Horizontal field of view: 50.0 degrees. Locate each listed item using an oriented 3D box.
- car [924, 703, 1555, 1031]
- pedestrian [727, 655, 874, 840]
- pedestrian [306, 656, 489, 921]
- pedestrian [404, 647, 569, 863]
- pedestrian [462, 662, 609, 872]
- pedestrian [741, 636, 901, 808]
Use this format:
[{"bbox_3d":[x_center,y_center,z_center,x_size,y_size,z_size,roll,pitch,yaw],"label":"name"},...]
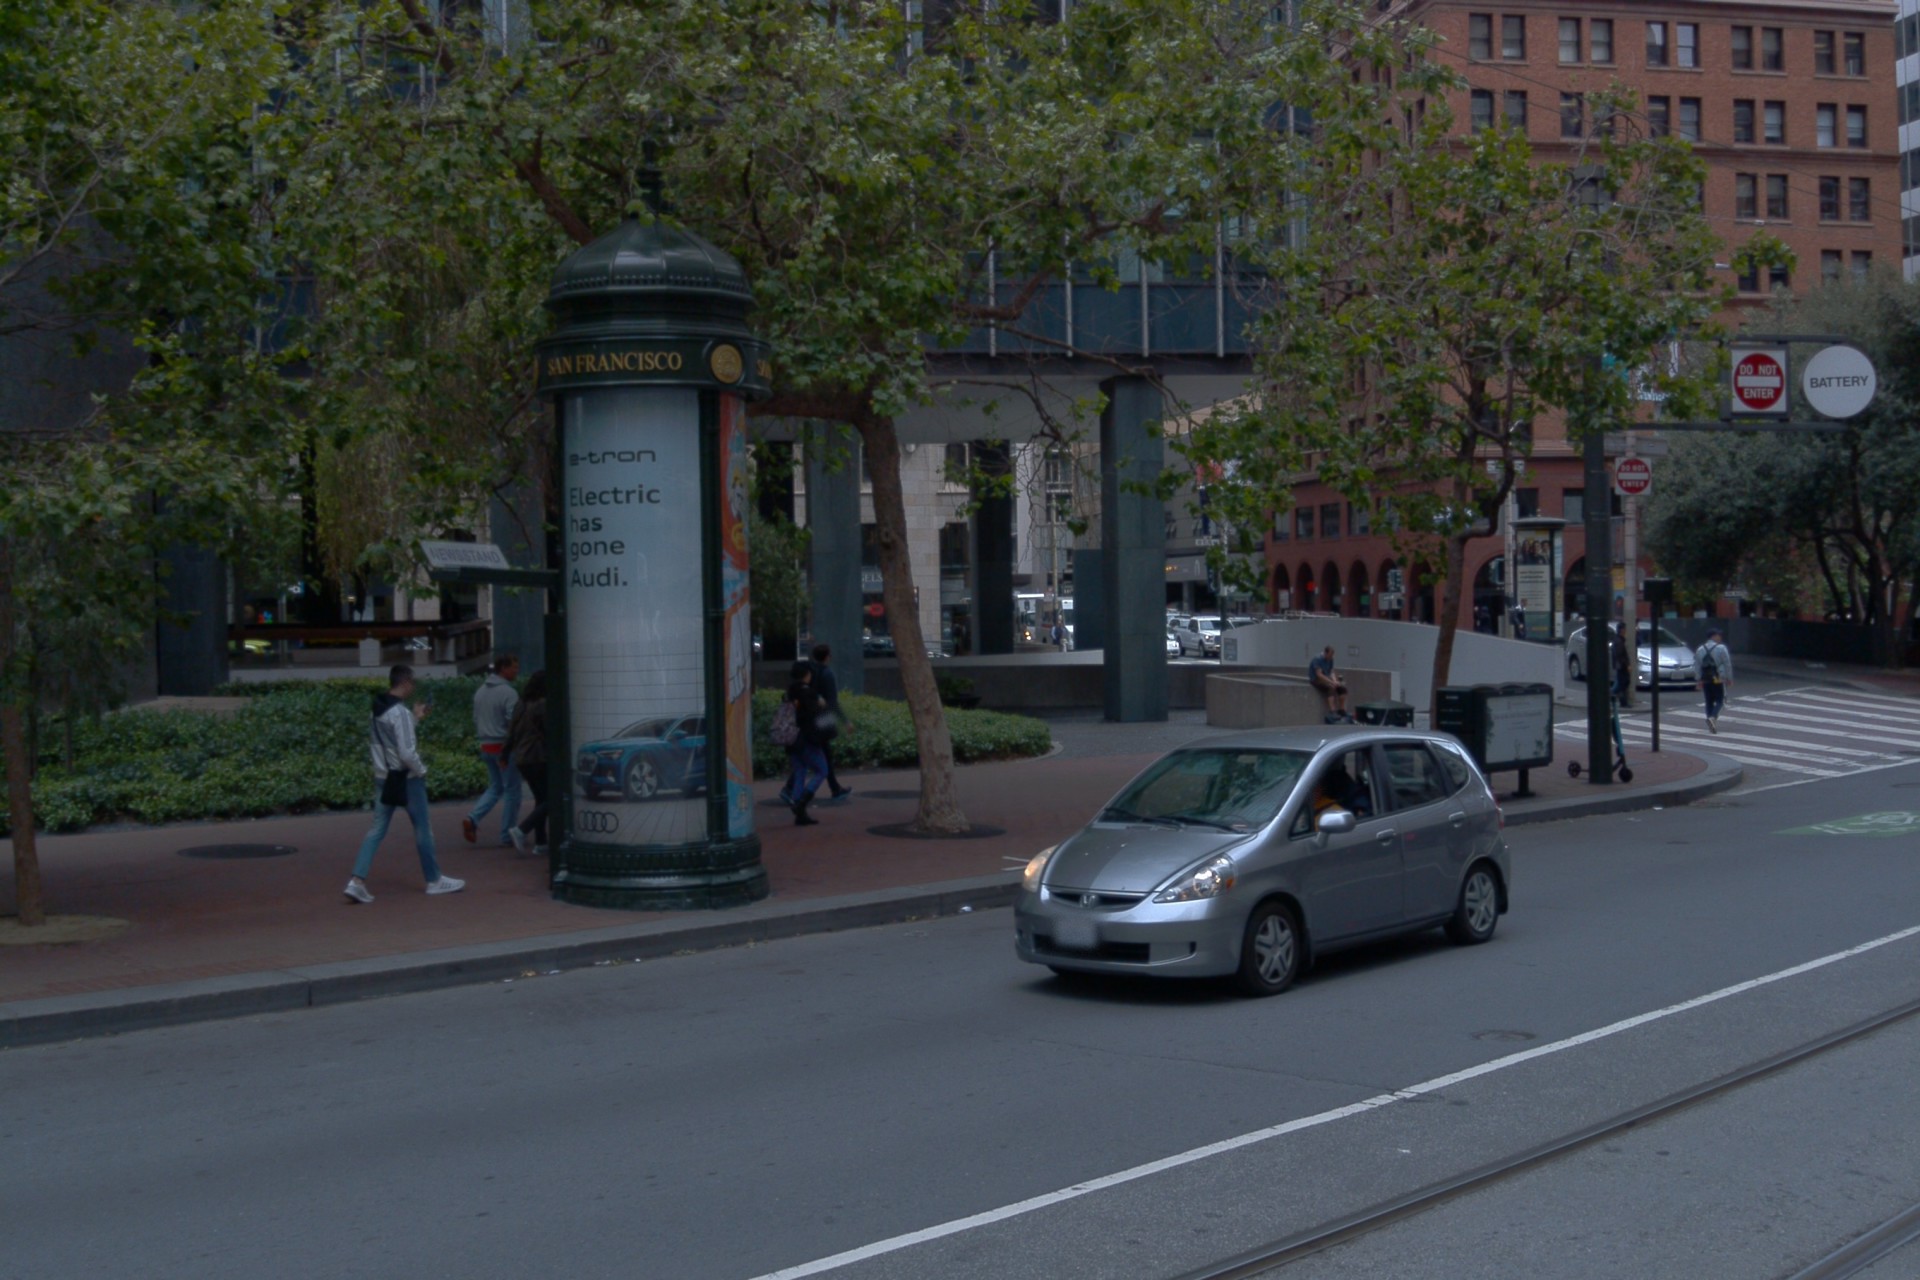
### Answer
[{"bbox_3d":[1.904,1.286,13.194,2.059,1.580,3.998,1,1,43],"label":"car"},{"bbox_3d":[-1.611,1.054,20.734,1.062,1.770,1.050,-1,1,-40],"label":"pedestrian"},{"bbox_3d":[-4.301,1.098,15.767,0.742,1.920,1.125,1,1,40],"label":"pedestrian"},{"bbox_3d":[-4.340,1.019,18.865,1.189,1.880,0.885,-1,1,-40],"label":"pedestrian"},{"bbox_3d":[-3.753,1.089,18.194,1.016,1.770,0.768,-1,1,-44],"label":"pedestrian"},{"bbox_3d":[-1.553,0.880,23.023,1.138,1.840,1.363,1,1,45],"label":"pedestrian"}]
